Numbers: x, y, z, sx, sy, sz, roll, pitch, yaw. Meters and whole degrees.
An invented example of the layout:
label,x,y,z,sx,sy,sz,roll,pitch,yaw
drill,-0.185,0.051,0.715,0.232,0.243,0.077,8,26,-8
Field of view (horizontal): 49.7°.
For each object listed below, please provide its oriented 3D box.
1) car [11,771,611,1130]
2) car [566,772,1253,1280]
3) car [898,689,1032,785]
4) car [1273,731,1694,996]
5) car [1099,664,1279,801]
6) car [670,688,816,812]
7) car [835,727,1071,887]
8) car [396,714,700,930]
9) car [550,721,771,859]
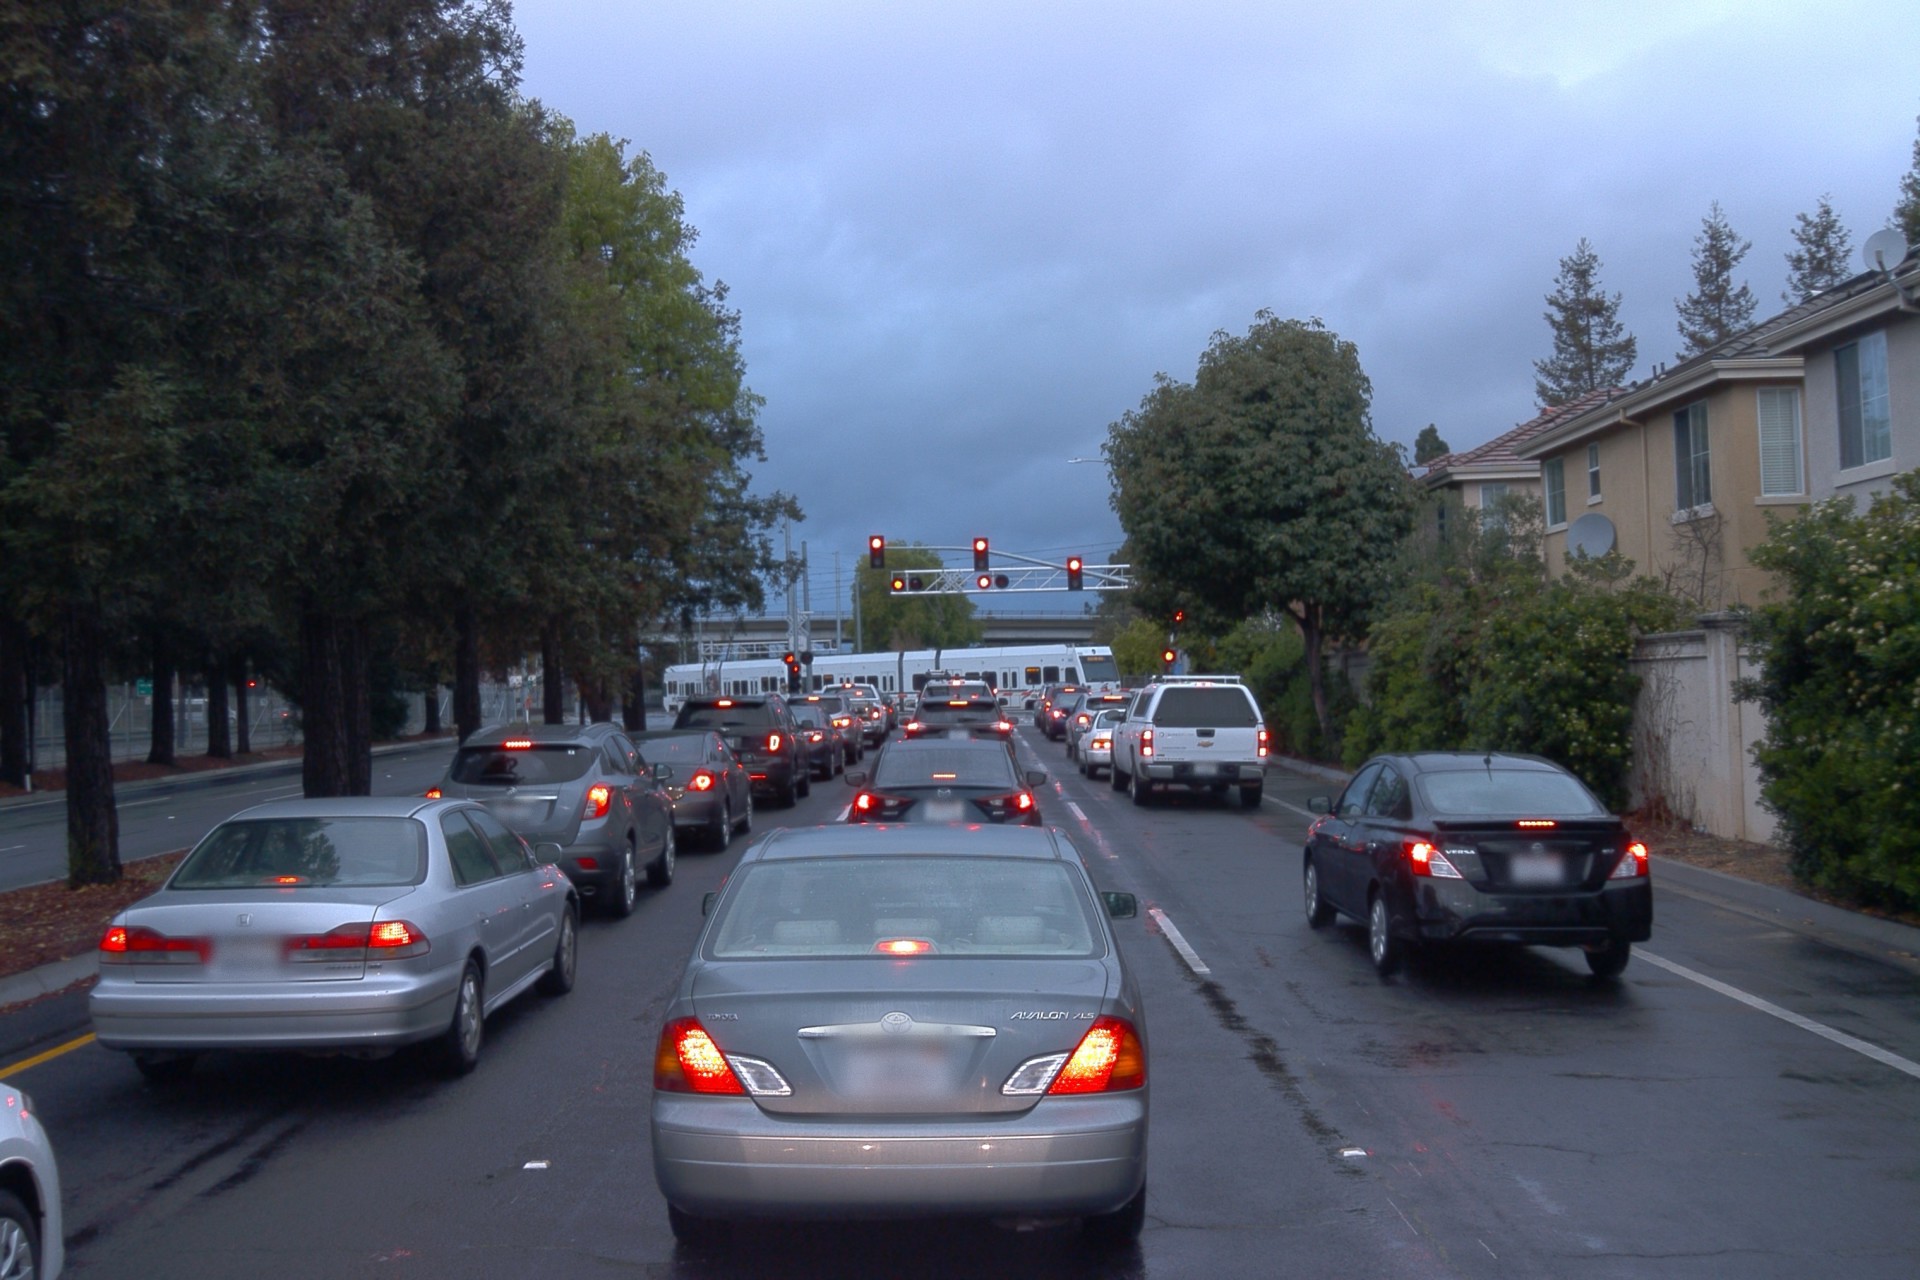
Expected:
label,x,y,z,sx,sy,sz,roll,pitch,yaw
car,-3.471,1.617,12.135,2.021,1.480,4.541,0,-1,1
car,-0.185,1.440,8.705,2.105,1.550,4.676,0,-1,-1
car,0.038,1.667,36.738,2.231,1.560,4.585,0,-1,-1
car,3.654,1.516,15.398,2.004,1.550,4.501,0,-1,0
car,3.624,1.433,34.017,2.216,2.050,5.937,0,-1,-1
car,-3.397,1.697,33.275,2.021,1.810,4.543,0,-1,-2
car,-0.119,1.565,20.585,2.081,1.290,4.552,0,-1,-1
car,-3.663,1.574,19.172,1.936,1.700,4.080,0,-1,1
car,-3.597,1.786,25.772,2.021,1.460,4.541,0,-1,1
